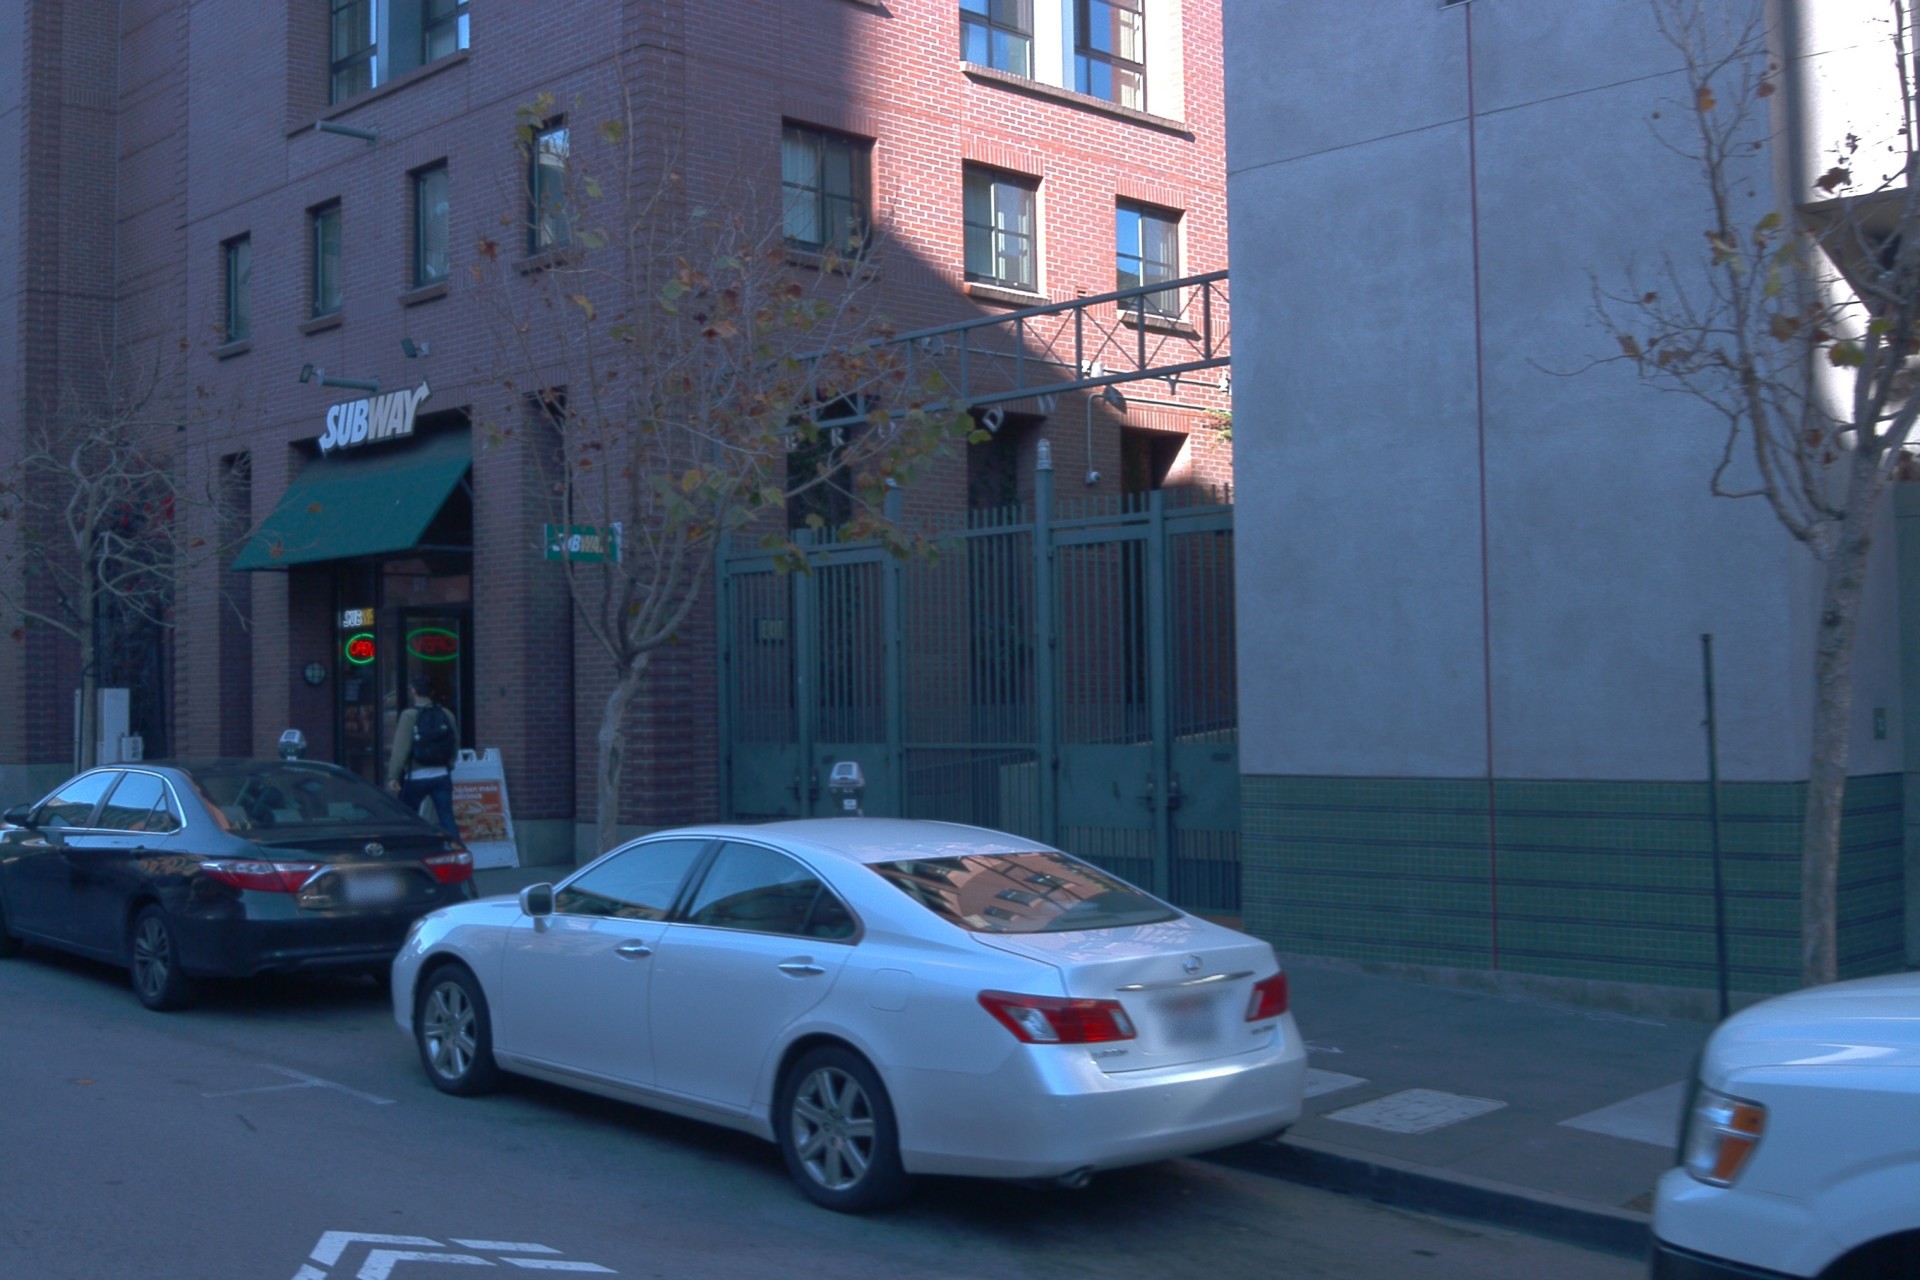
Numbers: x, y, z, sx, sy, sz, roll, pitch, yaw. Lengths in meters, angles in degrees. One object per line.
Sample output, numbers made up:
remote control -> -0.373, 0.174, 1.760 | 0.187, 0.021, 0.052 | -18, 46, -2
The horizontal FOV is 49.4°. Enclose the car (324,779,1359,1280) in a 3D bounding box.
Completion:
car -> -0.791, 1.544, 9.637 | 2.124, 1.510, 4.812 | 1, 0, -44

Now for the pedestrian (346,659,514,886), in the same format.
pedestrian -> -4.718, 1.142, 18.556 | 0.992, 1.930, 1.153 | 0, 0, -45
